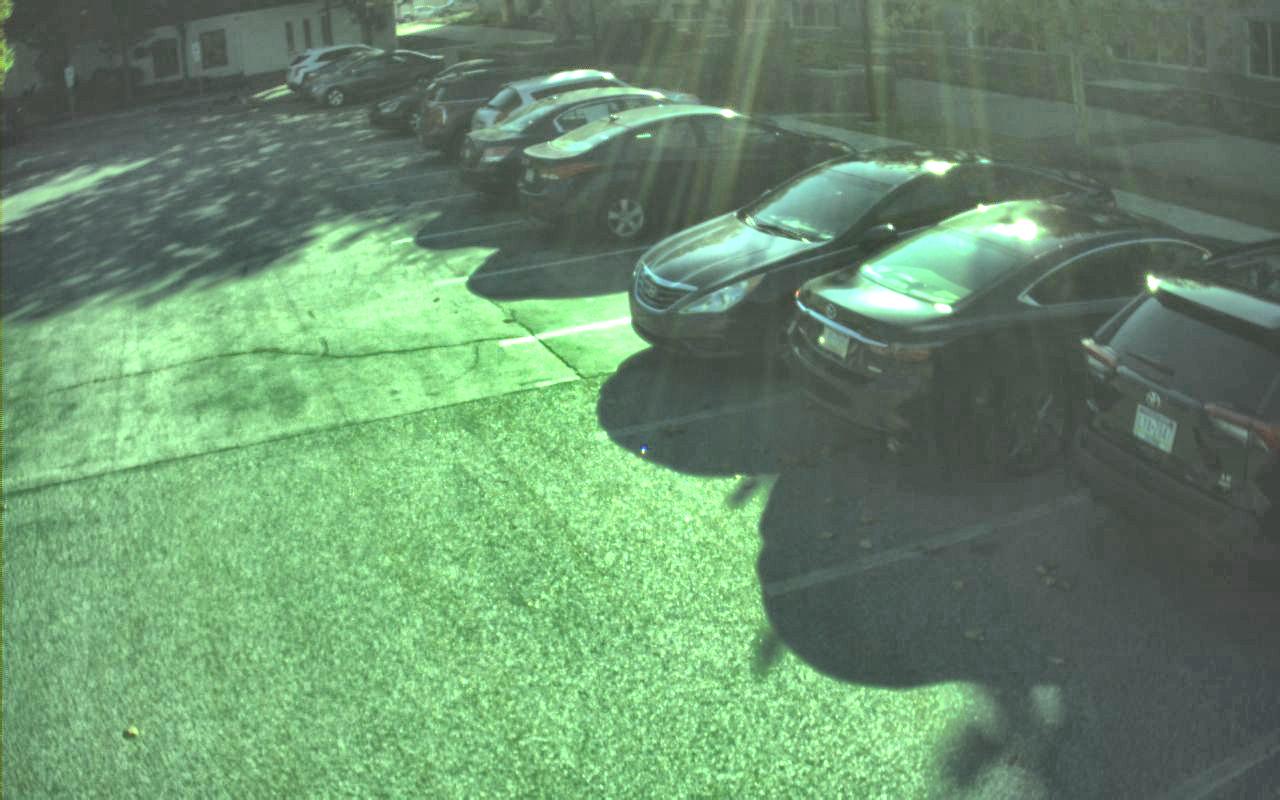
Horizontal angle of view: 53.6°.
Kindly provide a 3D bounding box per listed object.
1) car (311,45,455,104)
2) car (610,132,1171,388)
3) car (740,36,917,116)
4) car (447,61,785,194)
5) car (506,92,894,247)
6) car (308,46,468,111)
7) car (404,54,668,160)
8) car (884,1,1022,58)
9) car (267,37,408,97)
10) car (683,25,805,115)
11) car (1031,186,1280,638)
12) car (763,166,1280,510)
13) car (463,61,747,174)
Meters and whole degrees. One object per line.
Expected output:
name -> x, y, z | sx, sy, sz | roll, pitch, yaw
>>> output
car -> -8.259, -10.395, 38.711 | 4.347, 1.564, 1.923 | -8, 18, -22
car -> 2.258, -1.392, 10.635 | 4.606, 1.590, 1.998 | -7, 17, -20
car -> 4.071, -7.237, 27.189 | 2.007, 1.609, 4.655 | -7, 18, -18
car -> -0.367, -3.971, 17.747 | 4.457, 1.581, 1.946 | -7, 17, -19
car -> 0.761, -2.970, 15.520 | 4.461, 1.531, 1.925 | -7, 17, -20
car -> -7.646, -9.688, 36.532 | 4.607, 1.602, 1.970 | -7, 17, -20
car -> -1.952, -5.437, 22.668 | 4.499, 1.631, 1.965 | -7, 17, -19
car -> 9.488, -11.307, 36.472 | 1.970, 1.599, 4.676 | -7, 18, -20
car -> -10.312, -11.266, 40.713 | 4.530, 1.659, 1.968 | -9, 18, -26
car -> 2.125, -7.134, 26.396 | 2.029, 1.783, 4.533 | -2, 17, -3
car -> 4.588, -0.253, 6.442 | 4.474, 1.673, 1.984 | -8, 18, -22
car -> 3.192, -0.694, 8.481 | 4.361, 1.568, 1.918 | -9, 18, -26
car -> -0.599, -4.723, 20.437 | 4.302, 1.571, 1.903 | -7, 17, -19
